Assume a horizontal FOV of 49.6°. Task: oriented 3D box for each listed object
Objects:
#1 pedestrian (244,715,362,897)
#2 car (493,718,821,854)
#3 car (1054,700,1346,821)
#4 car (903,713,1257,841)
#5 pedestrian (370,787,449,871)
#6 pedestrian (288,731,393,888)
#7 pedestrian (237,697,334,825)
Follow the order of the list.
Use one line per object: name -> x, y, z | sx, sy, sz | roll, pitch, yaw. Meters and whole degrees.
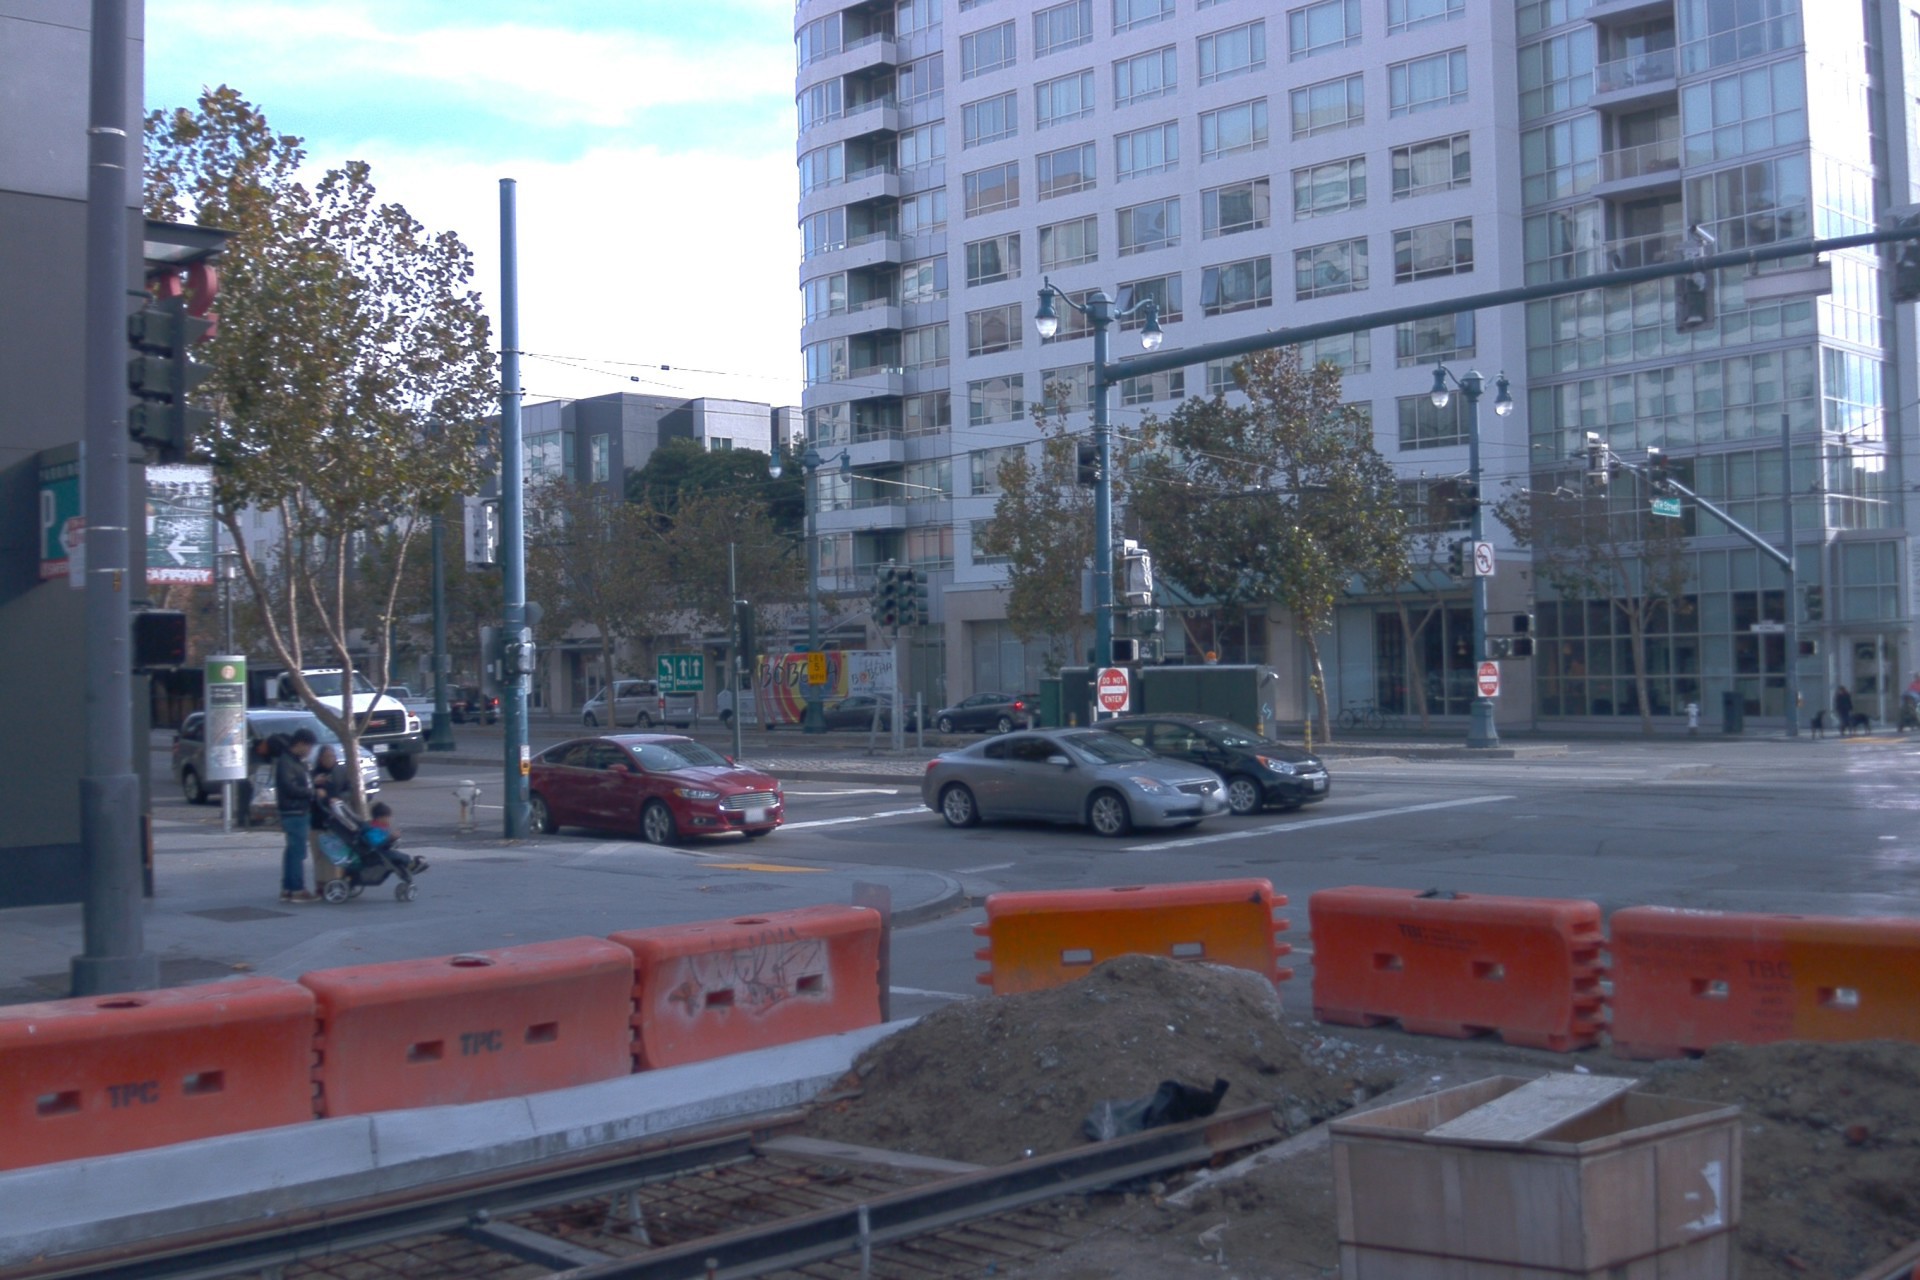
pedestrian -> -6.286, 1.567, 19.885 | 0.748, 1.660, 0.767 | 0, -1, 38
car -> -4.367, 1.983, 29.464 | 2.114, 1.605, 4.851 | 1, -1, -45
car -> 3.567, 1.751, 31.201 | 4.010, 1.617, 1.782 | 0, -1, 38
car -> 1.603, 1.841, 28.981 | 4.733, 1.488, 2.015 | 0, -1, 43
pedestrian -> -5.302, 1.814, 20.020 | 0.723, 0.752, 0.485 | 0, -1, -15
pedestrian -> -6.048, 1.634, 20.292 | 0.723, 1.460, 0.660 | 0, -1, 29
pedestrian -> -9.992, 1.768, 30.783 | 0.941, 1.830, 0.982 | 0, -1, 24
